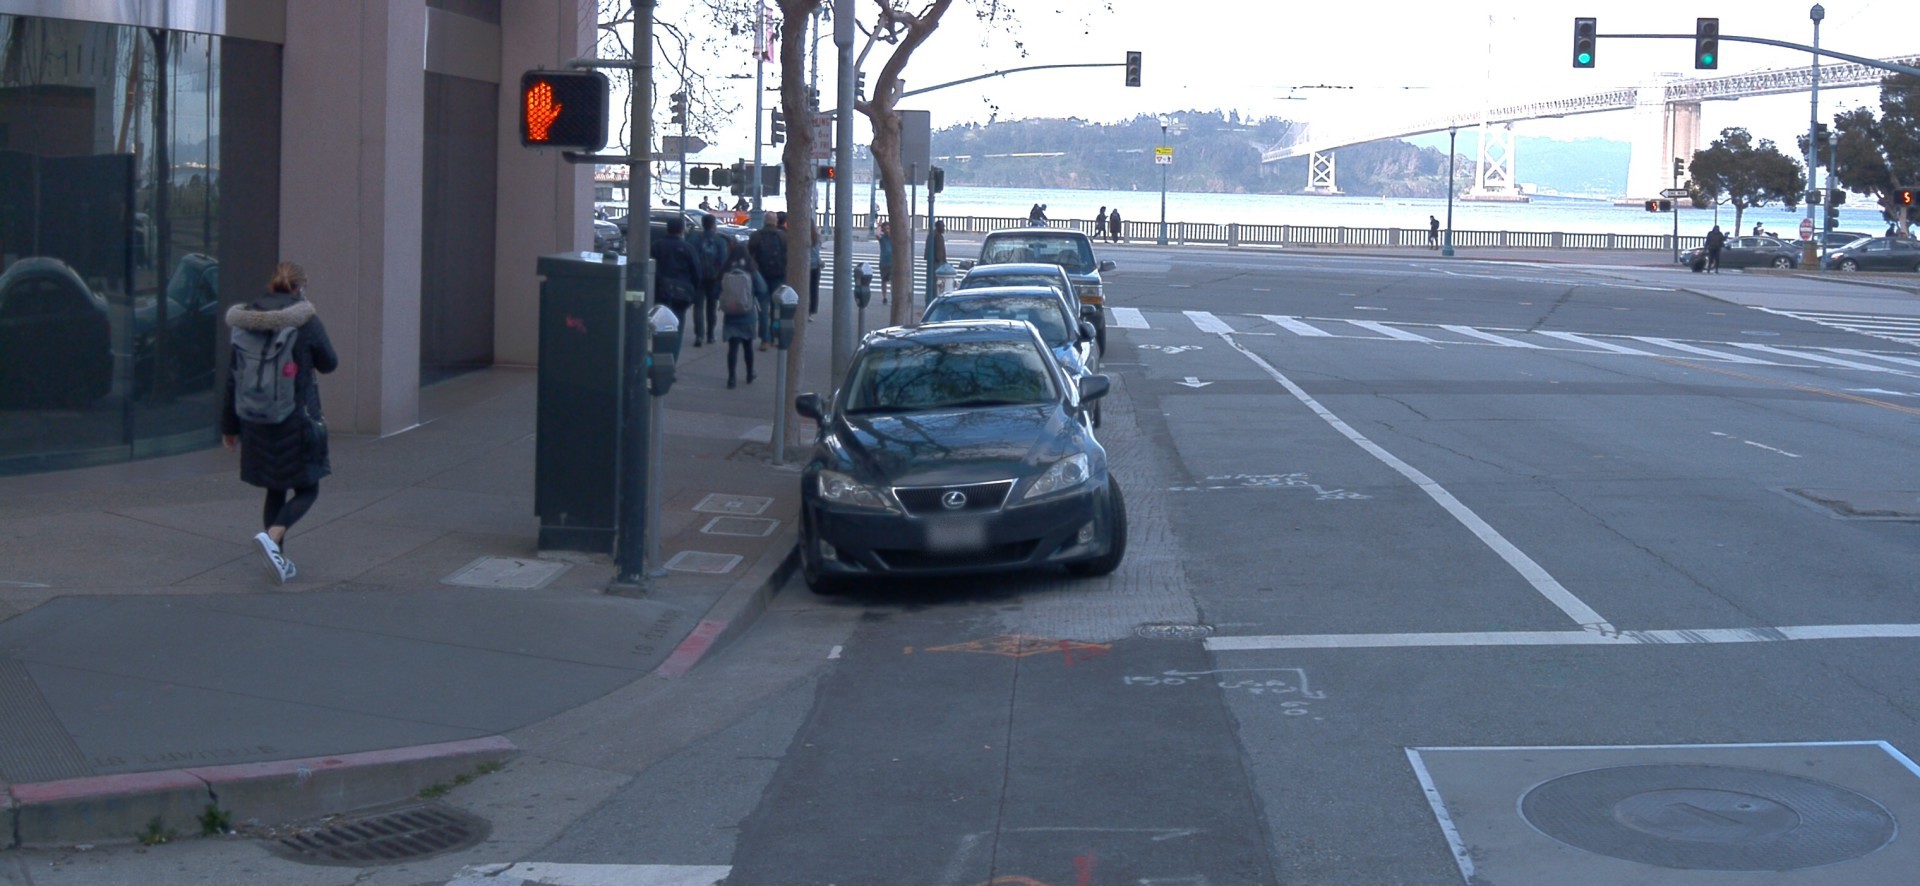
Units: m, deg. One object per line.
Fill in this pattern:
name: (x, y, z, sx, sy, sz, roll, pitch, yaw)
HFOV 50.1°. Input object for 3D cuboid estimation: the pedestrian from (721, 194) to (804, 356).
pedestrian: (-2.563, -2.220, 26.815, 1.012, 2.044, 1.356, 0, 3, -3)

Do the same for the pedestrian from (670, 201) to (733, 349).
pedestrian: (-3.315, -2.177, 26.373, 0.732, 1.865, 0.947, 0, 3, -3)

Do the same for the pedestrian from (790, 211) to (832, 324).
pedestrian: (-2.460, -2.902, 33.912, 0.629, 1.836, 0.602, 0, 2, -10)

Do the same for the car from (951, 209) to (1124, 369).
car: (1.161, -2.453, 31.483, 2.438, 2.218, 4.887, 0, 6, 1)

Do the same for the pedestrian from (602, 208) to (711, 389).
pedestrian: (-3.232, -1.579, 21.989, 0.961, 1.865, 1.349, 0, 3, 0)

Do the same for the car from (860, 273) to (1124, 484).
car: (0.446, -0.726, 19.219, 2.122, 1.531, 4.772, 0, 6, 5)

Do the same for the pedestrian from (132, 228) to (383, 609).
pedestrian: (-3.526, -0.177, 10.400, 0.806, 1.805, 1.093, 0, 3, 6)

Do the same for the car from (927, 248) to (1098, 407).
car: (0.682, -1.464, 24.702, 1.889, 1.641, 4.066, 0, 6, 3)

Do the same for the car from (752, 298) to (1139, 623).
car: (-0.096, -0.073, 13.422, 2.078, 1.501, 4.783, 0, 6, 0)

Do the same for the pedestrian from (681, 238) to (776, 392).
pedestrian: (-2.460, -1.384, 21.899, 0.873, 1.586, 1.034, 0, 3, 1)
